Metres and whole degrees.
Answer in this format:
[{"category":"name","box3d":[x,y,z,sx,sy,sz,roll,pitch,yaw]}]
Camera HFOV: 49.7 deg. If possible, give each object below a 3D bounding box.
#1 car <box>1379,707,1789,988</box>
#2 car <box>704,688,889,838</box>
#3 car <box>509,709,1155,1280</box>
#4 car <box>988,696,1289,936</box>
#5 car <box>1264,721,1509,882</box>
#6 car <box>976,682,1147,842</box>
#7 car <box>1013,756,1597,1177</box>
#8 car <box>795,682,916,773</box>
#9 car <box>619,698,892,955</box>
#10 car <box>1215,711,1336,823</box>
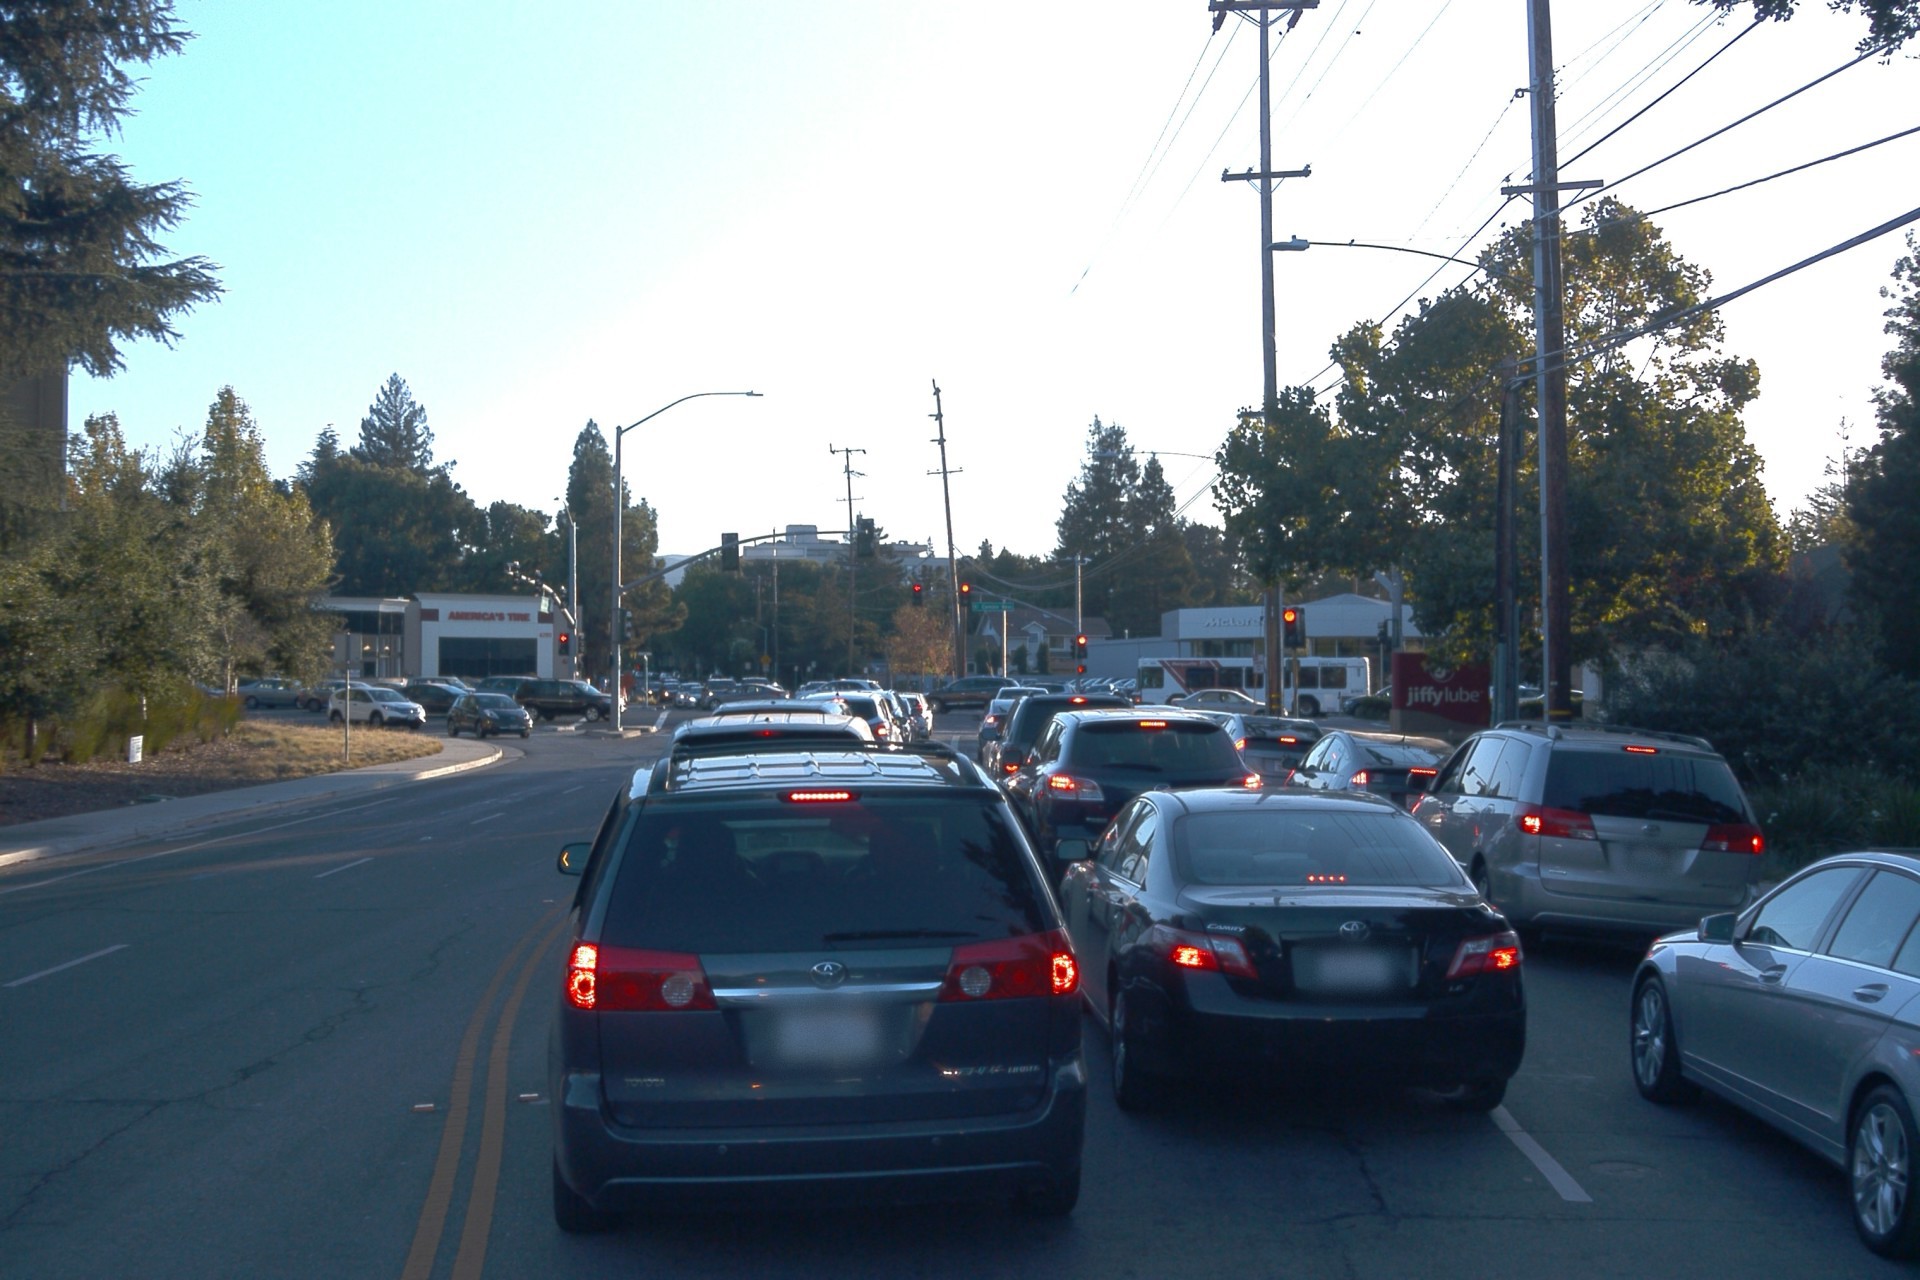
[{"category":"car","box3d":[4.903,1.543,17.096,2.061,1.850,4.903,0,0,2]},{"category":"car","box3d":[-1.863,1.392,24.651,1.760,1.570,3.956,0,0,2]},{"category":"car","box3d":[-0.811,1.309,9.424,2.102,1.830,5.461,0,0,-9]},{"category":"car","box3d":[1.458,1.459,18.781,1.992,1.810,4.553,0,0,-5]},{"category":"car","box3d":[4.676,1.735,23.269,1.785,1.510,4.026,0,0,-2]},{"category":"car","box3d":[1.186,1.444,25.820,1.759,1.770,3.957,0,0,-3]},{"category":"car","box3d":[1.497,1.469,10.836,1.915,1.490,4.529,0,0,-5]},{"category":"car","box3d":[-1.661,1.389,33.814,1.709,1.350,3.337,0,0,2]},{"category":"car","box3d":[-1.432,1.296,15.800,1.812,1.620,4.042,0,0,-2]},{"category":"car","box3d":[4.669,1.856,30.930,1.418,1.490,3.138,0,0,2]}]
